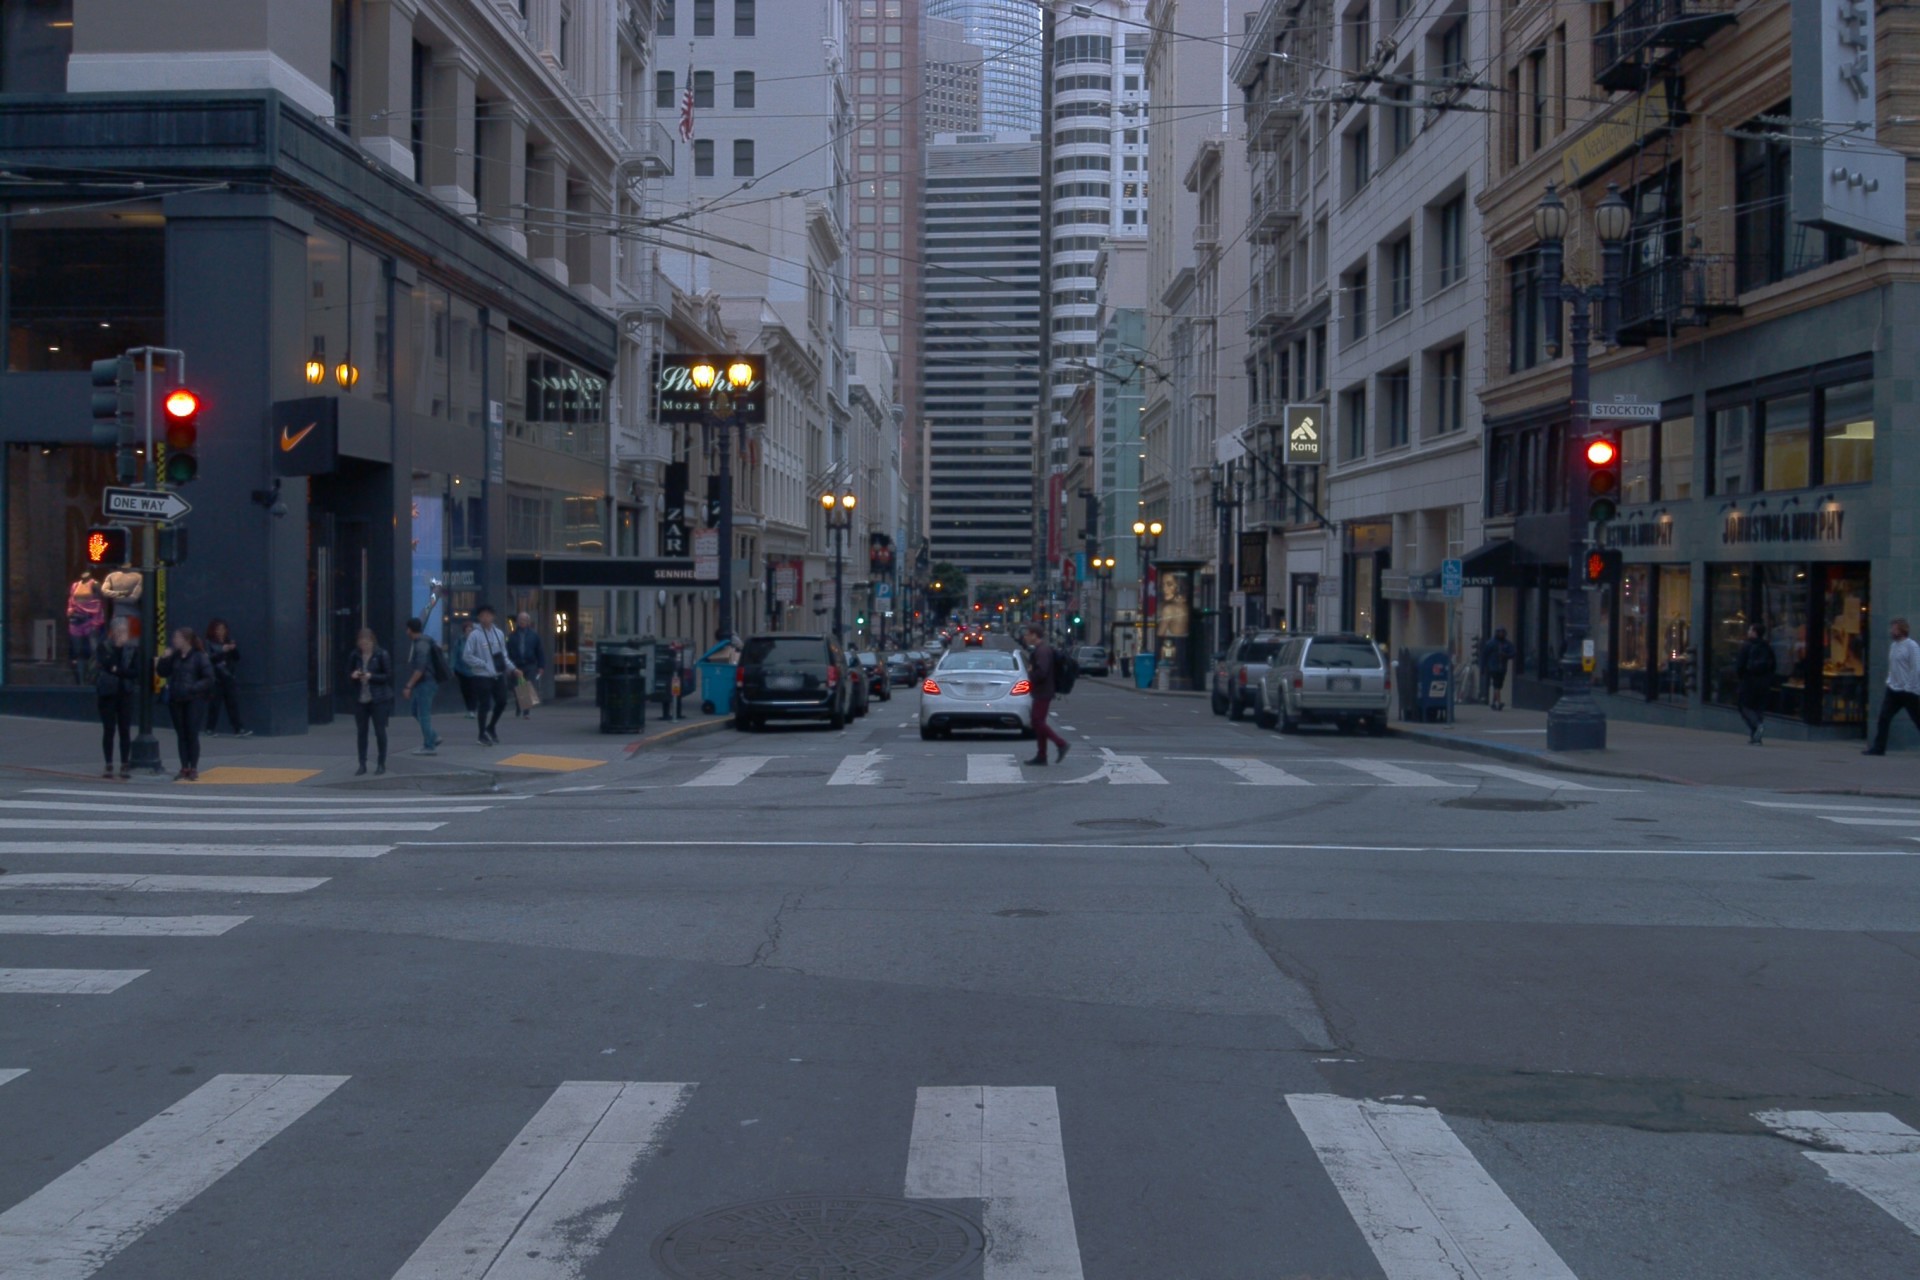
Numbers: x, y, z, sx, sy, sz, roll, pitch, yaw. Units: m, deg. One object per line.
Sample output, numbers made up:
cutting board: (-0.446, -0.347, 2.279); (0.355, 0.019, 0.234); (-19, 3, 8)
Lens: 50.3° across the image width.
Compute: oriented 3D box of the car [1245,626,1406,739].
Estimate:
car: (6.359, 0.689, 36.049); (1.952, 1.860, 4.298); (0, 1, -1)

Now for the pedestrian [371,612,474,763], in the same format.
pedestrian: (-6.390, 0.548, 24.368); (1.123, 1.750, 1.076); (0, 1, -11)

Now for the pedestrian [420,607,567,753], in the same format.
pedestrian: (-5.860, 0.473, 25.680); (1.285, 1.773, 1.302); (1, 1, 43)

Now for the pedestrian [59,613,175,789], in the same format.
pedestrian: (-8.865, 0.616, 21.555); (0.897, 1.800, 1.086); (0, 1, -9)

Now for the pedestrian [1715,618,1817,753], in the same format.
pedestrian: (10.813, 0.589, 27.483); (0.891, 1.770, 1.163); (0, 1, 0)

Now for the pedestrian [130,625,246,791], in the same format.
pedestrian: (-8.173, 0.696, 21.704); (0.954, 1.710, 1.071); (0, 1, -8)

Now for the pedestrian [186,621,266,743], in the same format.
pedestrian: (-9.176, 0.513, 25.579); (0.687, 1.500, 0.638); (0, 1, 26)

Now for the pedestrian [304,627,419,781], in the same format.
pedestrian: (-6.498, 0.680, 22.272); (0.974, 1.630, 1.122); (0, 1, -3)

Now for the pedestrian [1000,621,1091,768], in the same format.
pedestrian: (0.977, 0.618, 23.614); (1.000, 1.680, 0.673); (0, 1, -2)

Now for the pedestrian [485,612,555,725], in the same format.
pedestrian: (-7.178, 0.449, 33.379); (1.000, 1.820, 1.000); (0, 1, -5)

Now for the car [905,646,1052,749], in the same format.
car: (0.376, 0.854, 32.539); (2.085, 1.440, 4.819); (0, 1, 4)

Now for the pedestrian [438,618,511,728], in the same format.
pedestrian: (-7.807, 0.513, 32.930); (1.000, 1.740, 1.000); (0, 1, -4)

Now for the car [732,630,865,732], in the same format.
car: (-2.829, 0.688, 36.778); (1.946, 1.699, 4.331); (0, 1, 2)
